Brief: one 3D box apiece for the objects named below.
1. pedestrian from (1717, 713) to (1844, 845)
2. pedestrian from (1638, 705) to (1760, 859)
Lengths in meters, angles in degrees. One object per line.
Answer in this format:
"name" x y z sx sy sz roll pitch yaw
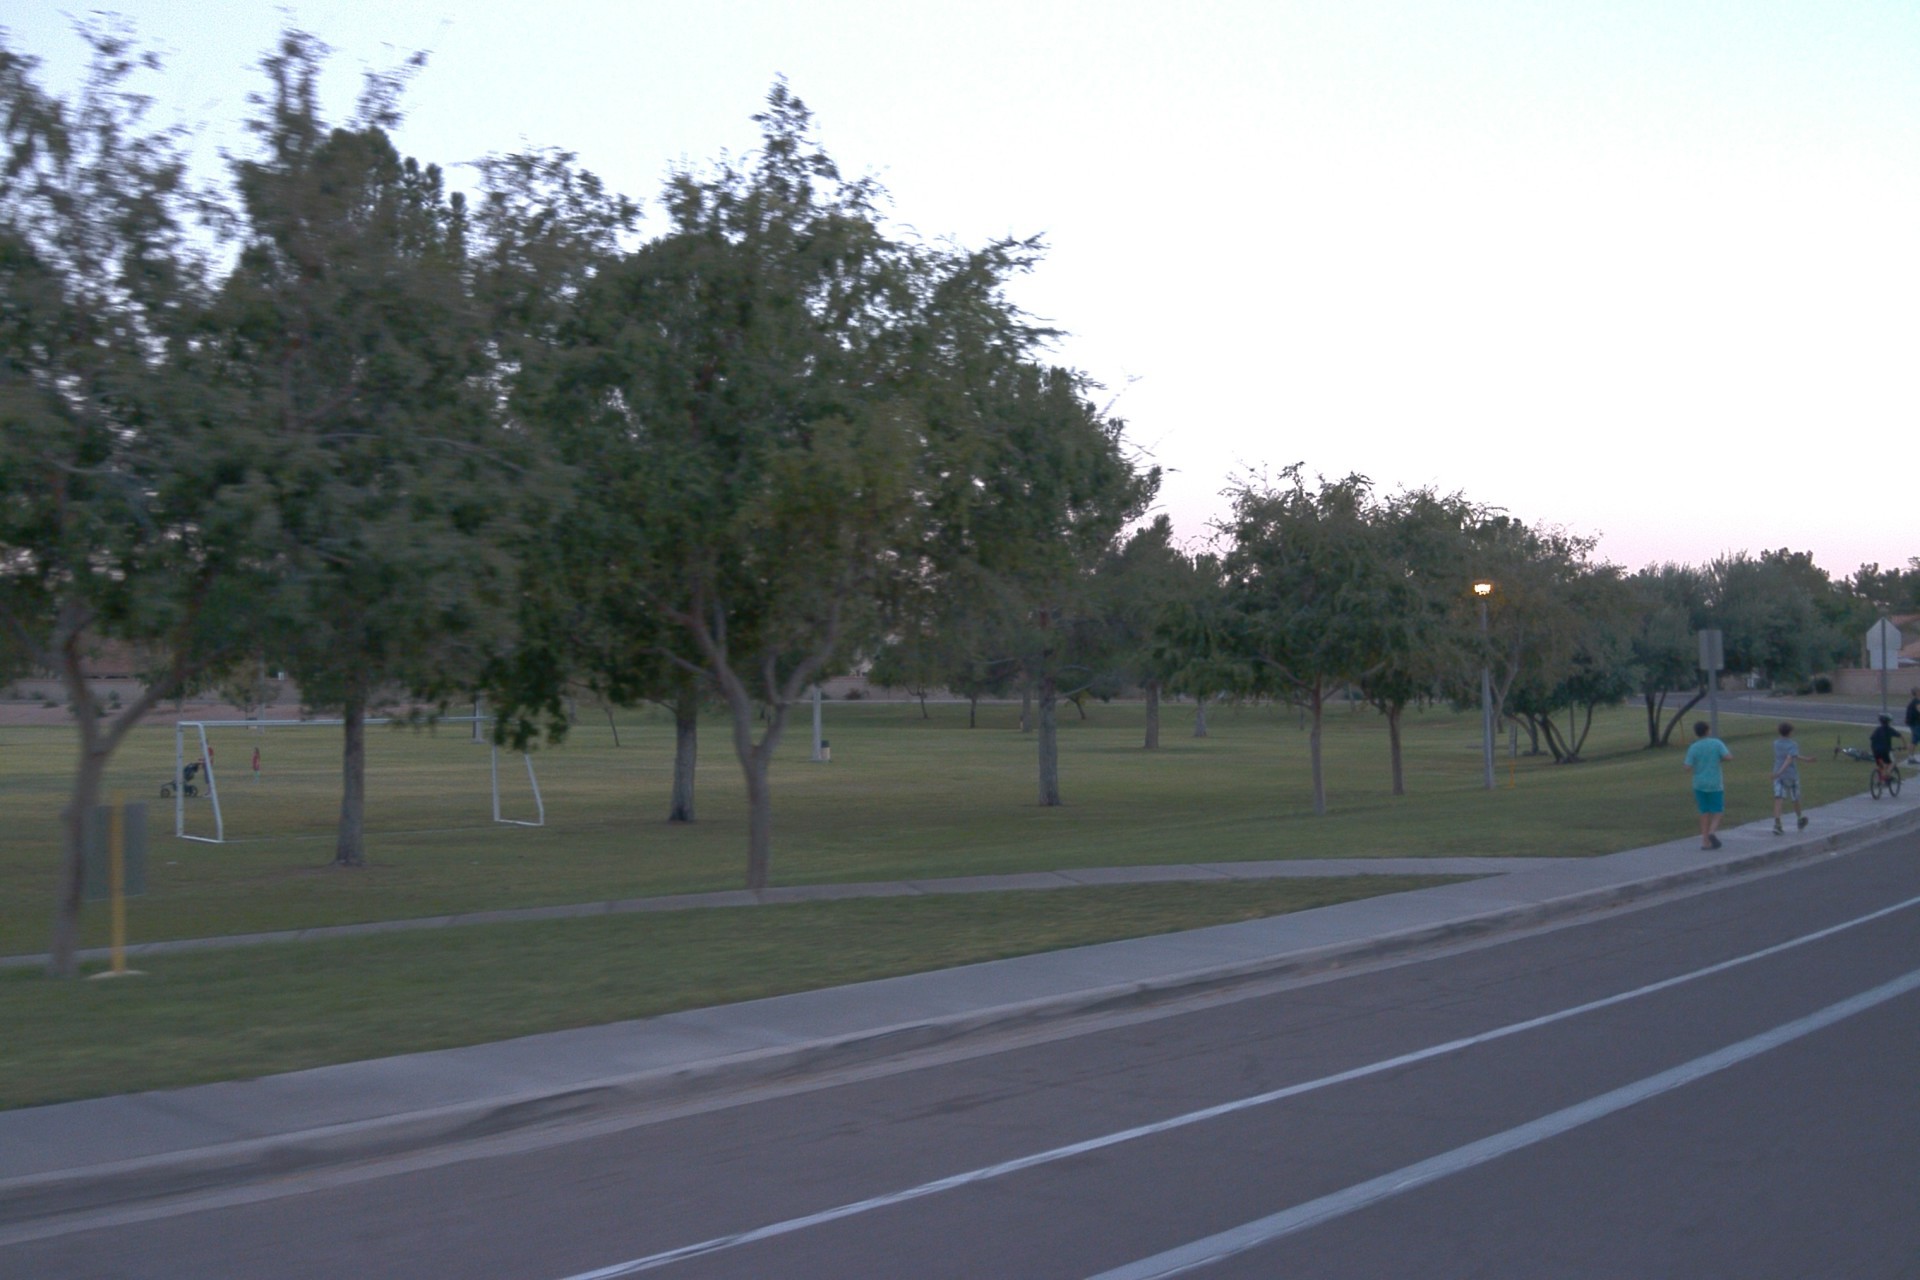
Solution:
"pedestrian" 10.396 1.732 26.460 1.086 1.560 1.291 0 0 44
"pedestrian" 8.508 1.608 24.052 0.991 1.680 1.119 0 0 39
